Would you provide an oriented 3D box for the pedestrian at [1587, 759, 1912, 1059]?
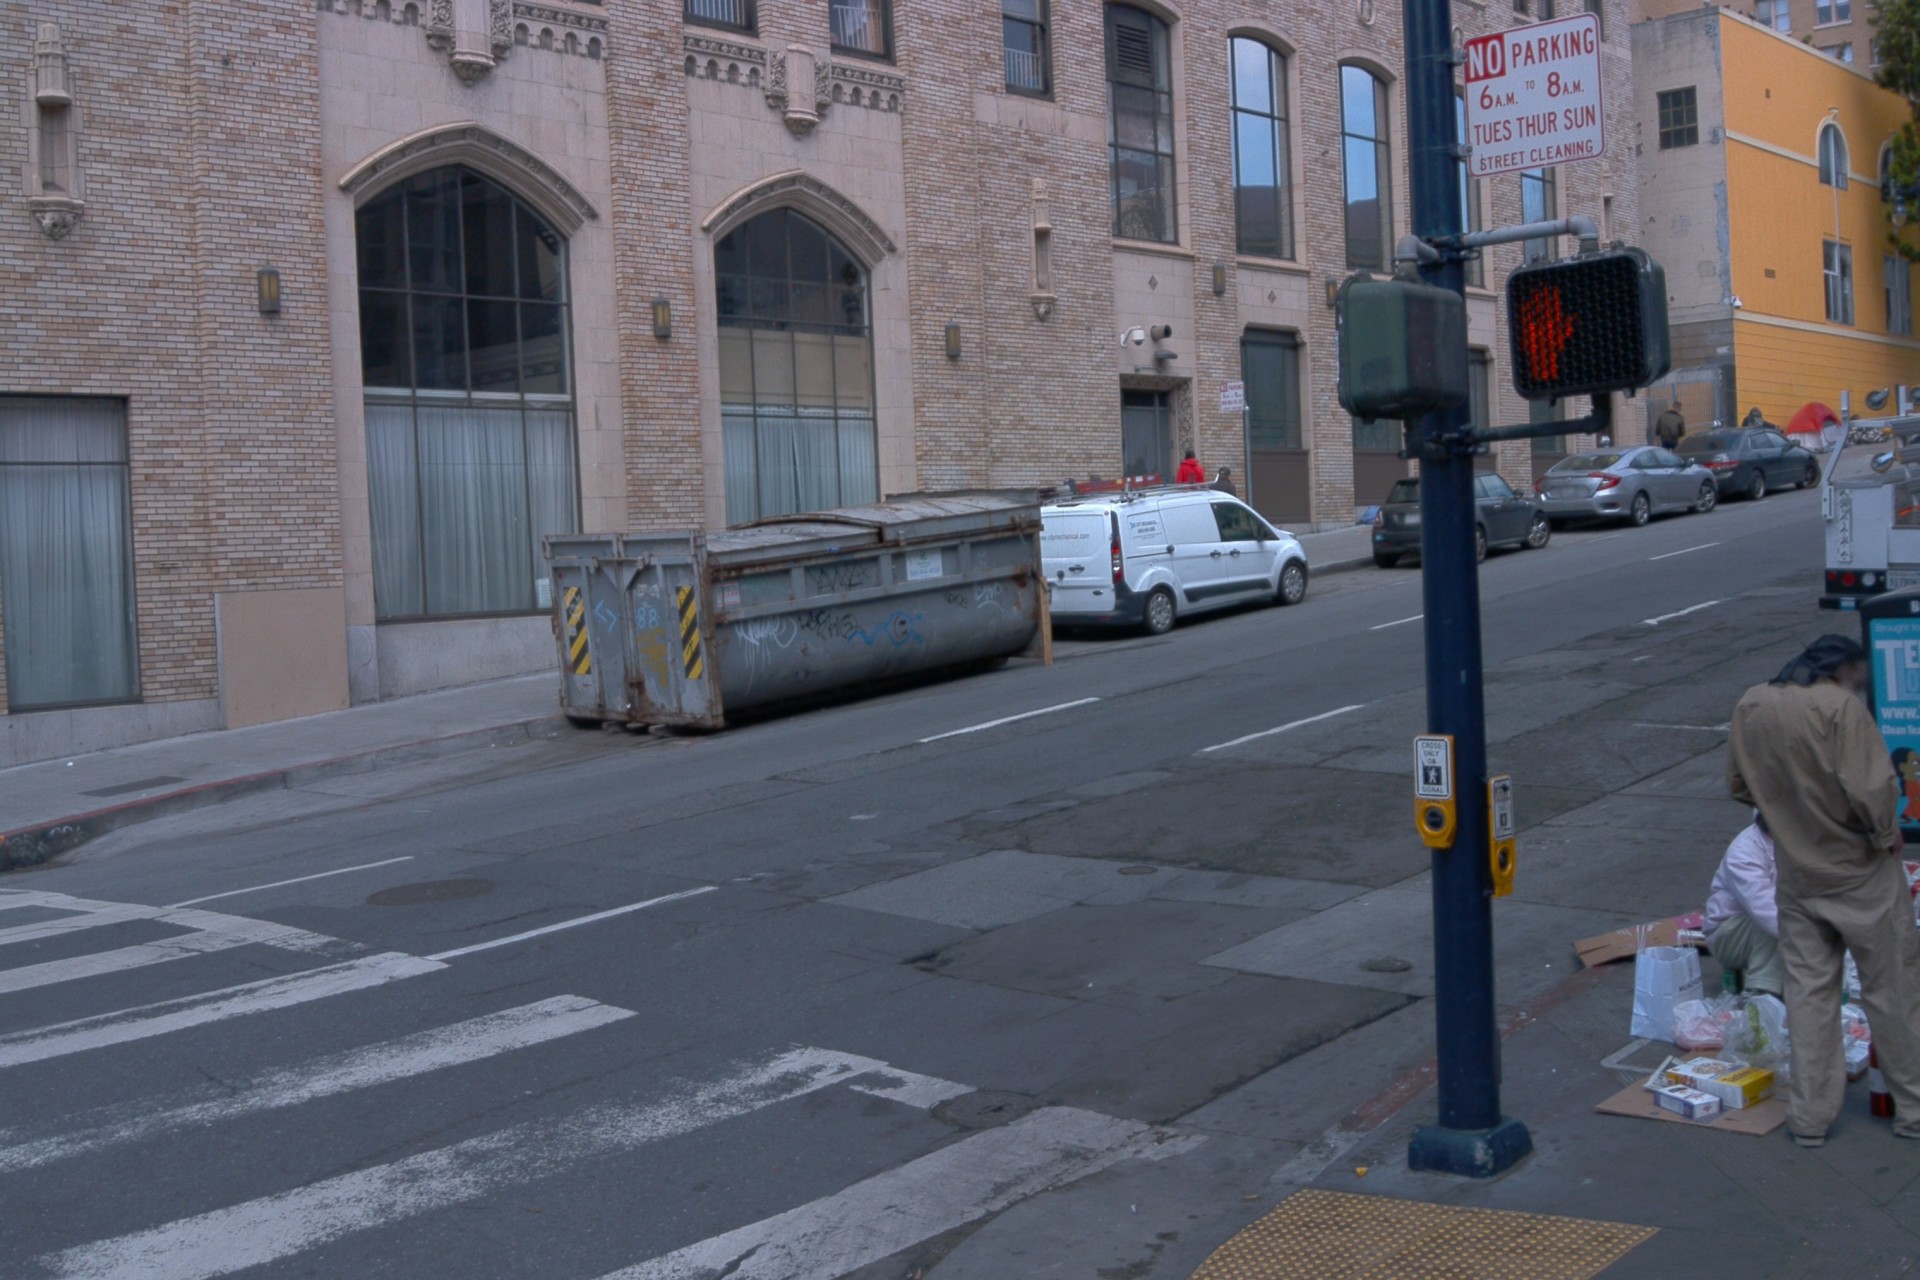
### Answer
[{"bbox_3d":[3.012,0.982,7.844,0.871,0.970,0.871,-1,0,-44],"label":"pedestrian"}]

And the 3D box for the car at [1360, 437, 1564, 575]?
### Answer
[{"bbox_3d":[8.085,-2.079,32.932,1.744,1.980,3.738,0,1,39],"label":"car"}]

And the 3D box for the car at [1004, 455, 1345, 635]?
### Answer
[{"bbox_3d":[2.942,-1.173,27.256,2.020,2.170,4.848,0,1,42],"label":"car"}]
